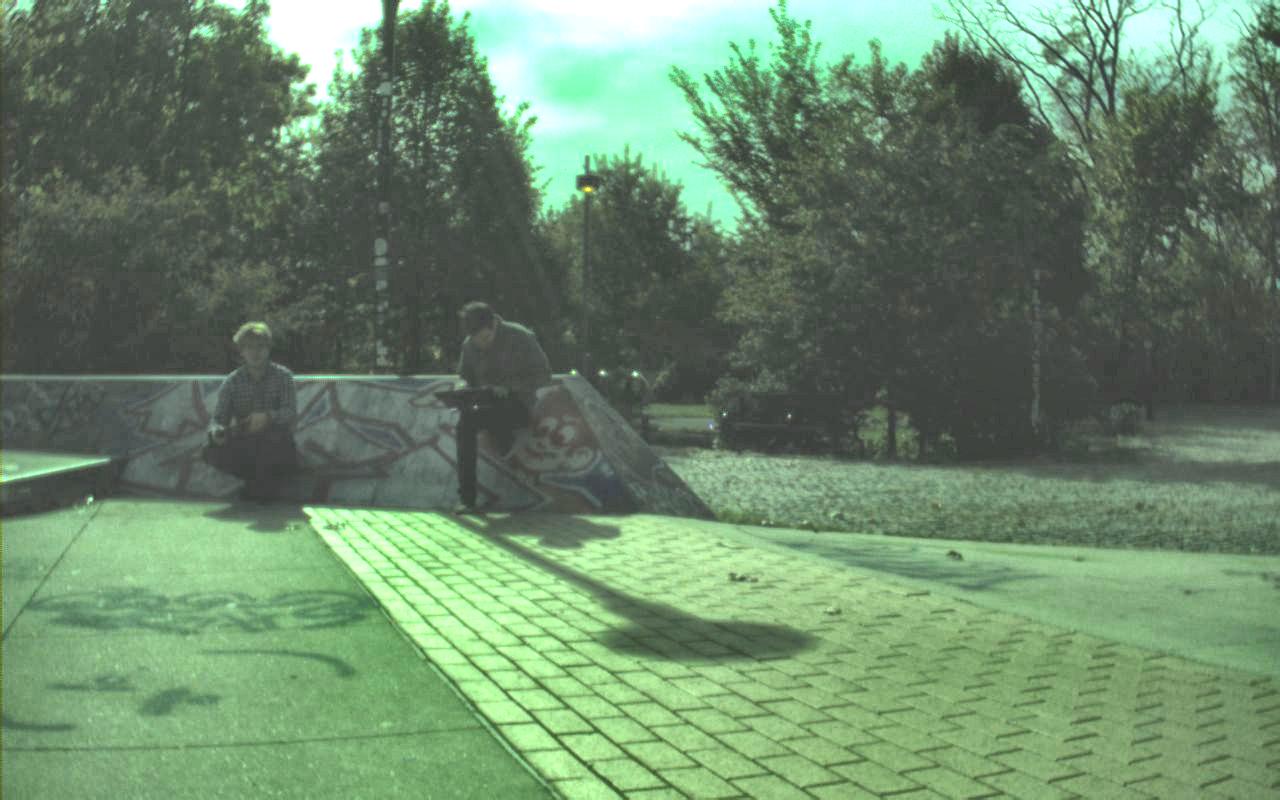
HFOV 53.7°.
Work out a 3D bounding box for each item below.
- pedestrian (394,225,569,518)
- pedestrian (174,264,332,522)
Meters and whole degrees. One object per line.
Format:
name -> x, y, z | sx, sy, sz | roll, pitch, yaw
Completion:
pedestrian -> -0.923, -0.168, 7.278 | 0.714, 1.589, 0.731 | 1, 0, 32
pedestrian -> -2.360, -0.046, 7.392 | 0.853, 1.484, 0.821 | 0, 0, -6
